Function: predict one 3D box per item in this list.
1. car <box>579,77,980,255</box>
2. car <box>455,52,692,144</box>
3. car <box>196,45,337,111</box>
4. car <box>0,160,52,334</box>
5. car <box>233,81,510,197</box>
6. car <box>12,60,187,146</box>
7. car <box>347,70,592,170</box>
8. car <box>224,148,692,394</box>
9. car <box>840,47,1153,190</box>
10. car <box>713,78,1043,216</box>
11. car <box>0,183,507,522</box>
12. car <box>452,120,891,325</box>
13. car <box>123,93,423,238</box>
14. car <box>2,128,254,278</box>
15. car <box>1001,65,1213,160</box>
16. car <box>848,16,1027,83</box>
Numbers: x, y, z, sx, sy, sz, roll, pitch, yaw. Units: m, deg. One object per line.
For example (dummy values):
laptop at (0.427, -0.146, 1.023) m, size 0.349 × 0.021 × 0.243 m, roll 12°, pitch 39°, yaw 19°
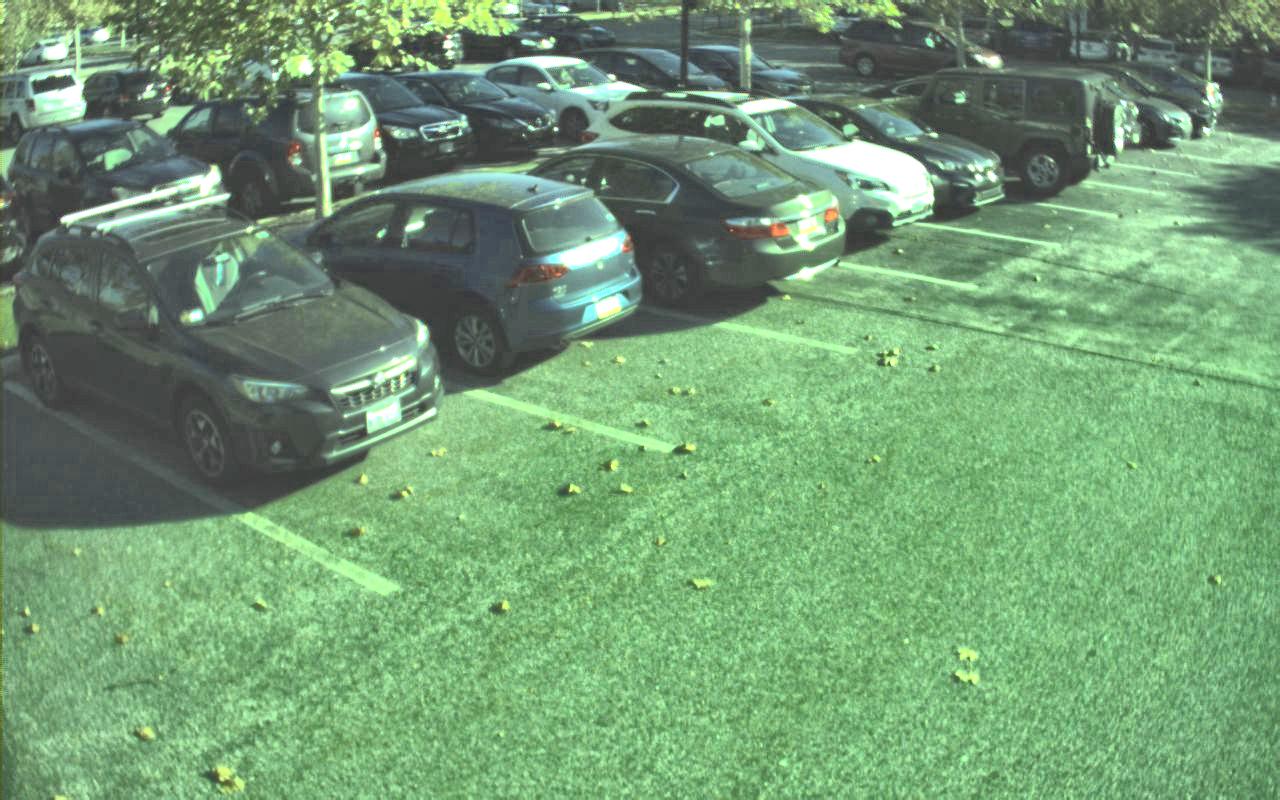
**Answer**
car at (1.675, -3.082, 15.572) m, size 4.752 × 1.758 × 2.050 m, roll 13°, pitch 21°, yaw 39°
car at (-1.397, -6.008, 24.375) m, size 4.553 × 1.616 × 1.982 m, roll 13°, pitch 21°, yaw 39°
car at (-11.237, -9.507, 35.263) m, size 4.590 × 1.656 × 2.008 m, roll 11°, pitch 20°, yaw 35°
car at (-9.691, -2.155, 14.417) m, size 4.646 × 1.684 × 2.018 m, roll 12°, pitch 21°, yaw 38°
car at (-4.554, -4.353, 20.192) m, size 4.498 × 1.615 × 1.983 m, roll 9°, pitch 19°, yaw 30°
car at (-13.952, -7.602, 29.195) m, size 4.584 × 1.636 × 1.973 m, roll -6°, pitch 17°, yaw -16°
car at (-3.196, -5.137, 22.408) m, size 4.390 × 1.575 × 1.940 m, roll 11°, pitch 20°, yaw 36°
car at (-1.810, -1.374, 11.443) m, size 4.182 × 1.603 × 1.902 m, roll 10°, pitch 20°, yaw 34°
car at (5.643, -4.523, 18.893) m, size 4.682 × 1.867 × 2.042 m, roll 11°, pitch 20°, yaw 35°
car at (3.341, -3.683, 17.415) m, size 4.367 × 1.543 × 1.931 m, roll 14°, pitch 22°, yaw 40°
car at (-3.354, -0.642, 9.348) m, size 4.464 × 1.690 × 1.968 m, roll 11°, pitch 20°, yaw 35°
car at (0.208, -2.031, 13.174) m, size 4.473 × 1.529 × 1.938 m, roll 14°, pitch 22°, yaw 41°
car at (-5.602, -3.531, 17.773) m, size 4.678 × 1.734 × 2.035 m, roll 10°, pitch 19°, yaw 32°
car at (-7.323, -2.831, 16.058) m, size 4.396 × 1.600 × 1.962 m, roll 13°, pitch 21°, yaw 39°
car at (9.987, -6.126, 24.846) m, size 4.416 × 1.598 × 1.950 m, roll 10°, pitch 20°, yaw 33°
car at (8.785, -10.338, 35.458) m, size 4.963 × 1.794 × 2.080 m, roll 12°, pitch 20°, yaw 36°
